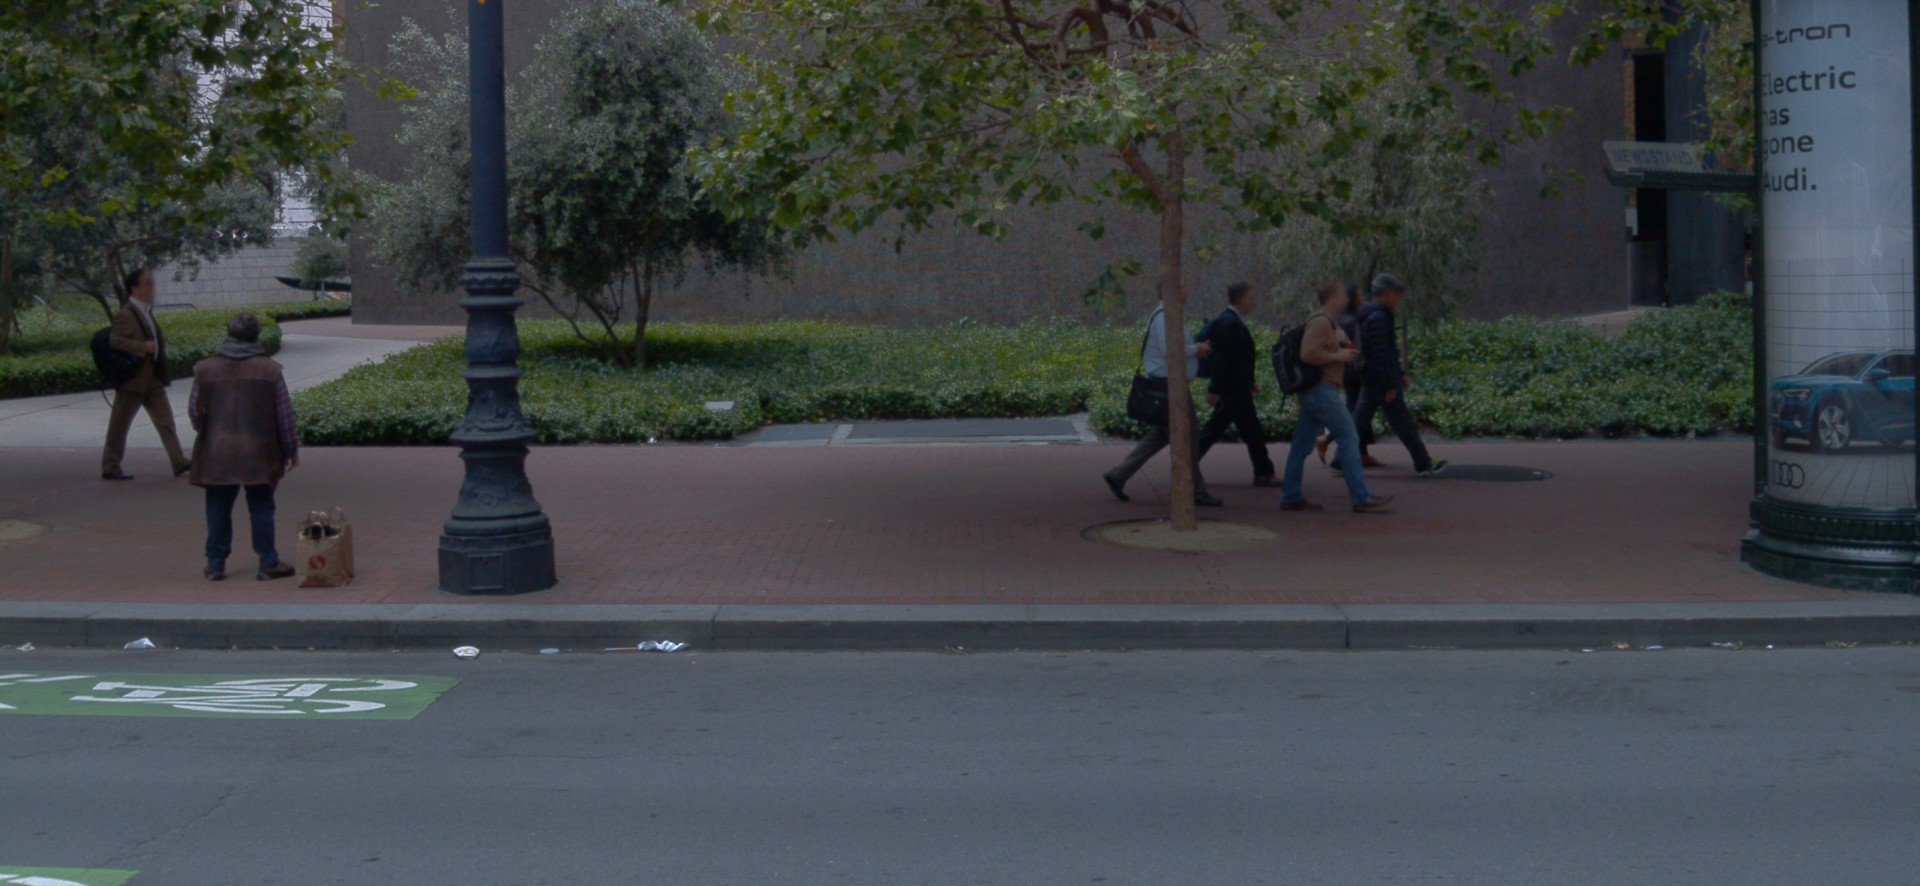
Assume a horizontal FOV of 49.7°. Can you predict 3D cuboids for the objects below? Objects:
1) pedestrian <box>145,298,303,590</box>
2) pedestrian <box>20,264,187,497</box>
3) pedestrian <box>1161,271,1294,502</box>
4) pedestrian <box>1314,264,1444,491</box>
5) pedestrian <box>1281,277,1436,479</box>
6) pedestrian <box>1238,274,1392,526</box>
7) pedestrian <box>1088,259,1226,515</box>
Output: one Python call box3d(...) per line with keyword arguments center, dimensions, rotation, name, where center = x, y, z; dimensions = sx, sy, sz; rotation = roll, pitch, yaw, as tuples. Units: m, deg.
box3d(center=(-4.625, -0.018, 13.061), dimensions=(0.791, 1.757, 0.642), rotation=(0, 2, -5), name="pedestrian")
box3d(center=(-7.233, -0.560, 17.553), dimensions=(1.099, 1.877, 1.031), rotation=(0, 2, -10), name="pedestrian")
box3d(center=(2.158, -0.488, 16.839), dimensions=(1.012, 1.797, 0.887), rotation=(0, 2, 4), name="pedestrian")
box3d(center=(3.492, -0.572, 17.342), dimensions=(0.935, 1.827, 0.894), rotation=(0, 2, 2), name="pedestrian")
box3d(center=(3.466, -0.591, 18.115), dimensions=(1.172, 1.697, 0.931), rotation=(0, 2, -1), name="pedestrian")
box3d(center=(2.664, -0.349, 15.622), dimensions=(1.075, 1.827, 0.737), rotation=(0, 2, 4), name="pedestrian")
box3d(center=(1.508, -0.467, 16.050), dimensions=(1.013, 1.897, 0.997), rotation=(0, 2, 2), name="pedestrian")
